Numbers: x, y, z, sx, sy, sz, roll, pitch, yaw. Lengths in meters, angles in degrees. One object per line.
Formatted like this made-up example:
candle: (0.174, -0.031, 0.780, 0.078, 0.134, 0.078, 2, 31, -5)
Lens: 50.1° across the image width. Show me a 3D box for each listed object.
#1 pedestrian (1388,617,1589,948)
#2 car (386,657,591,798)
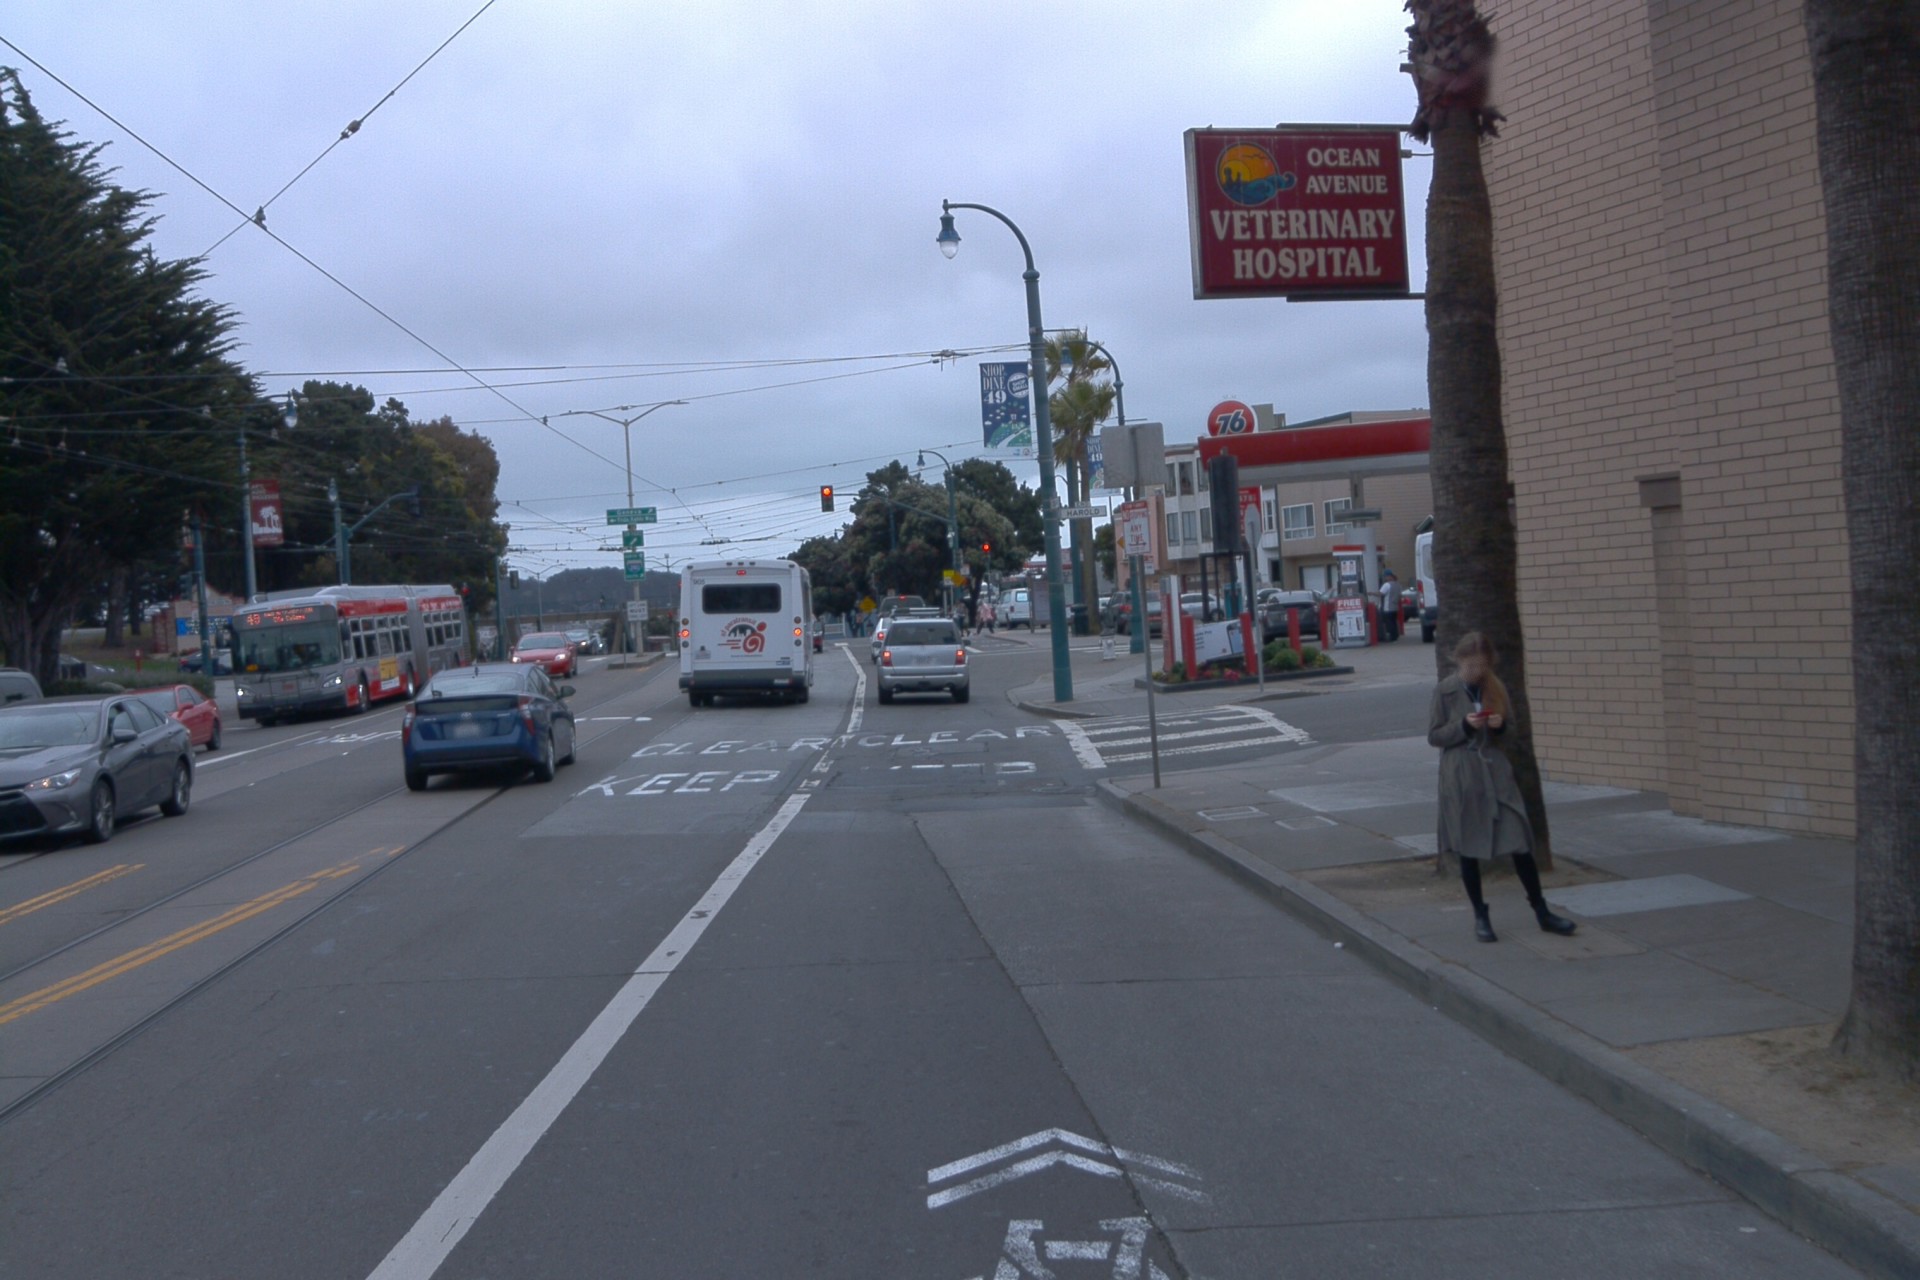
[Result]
pedestrian: (2.826, 0.735, 11.051, 0.844, 1.710, 0.722, 0, 1, -6)
car: (-5.926, 1.049, 26.332, 1.969, 1.540, 4.264, 0, 1, -5)
